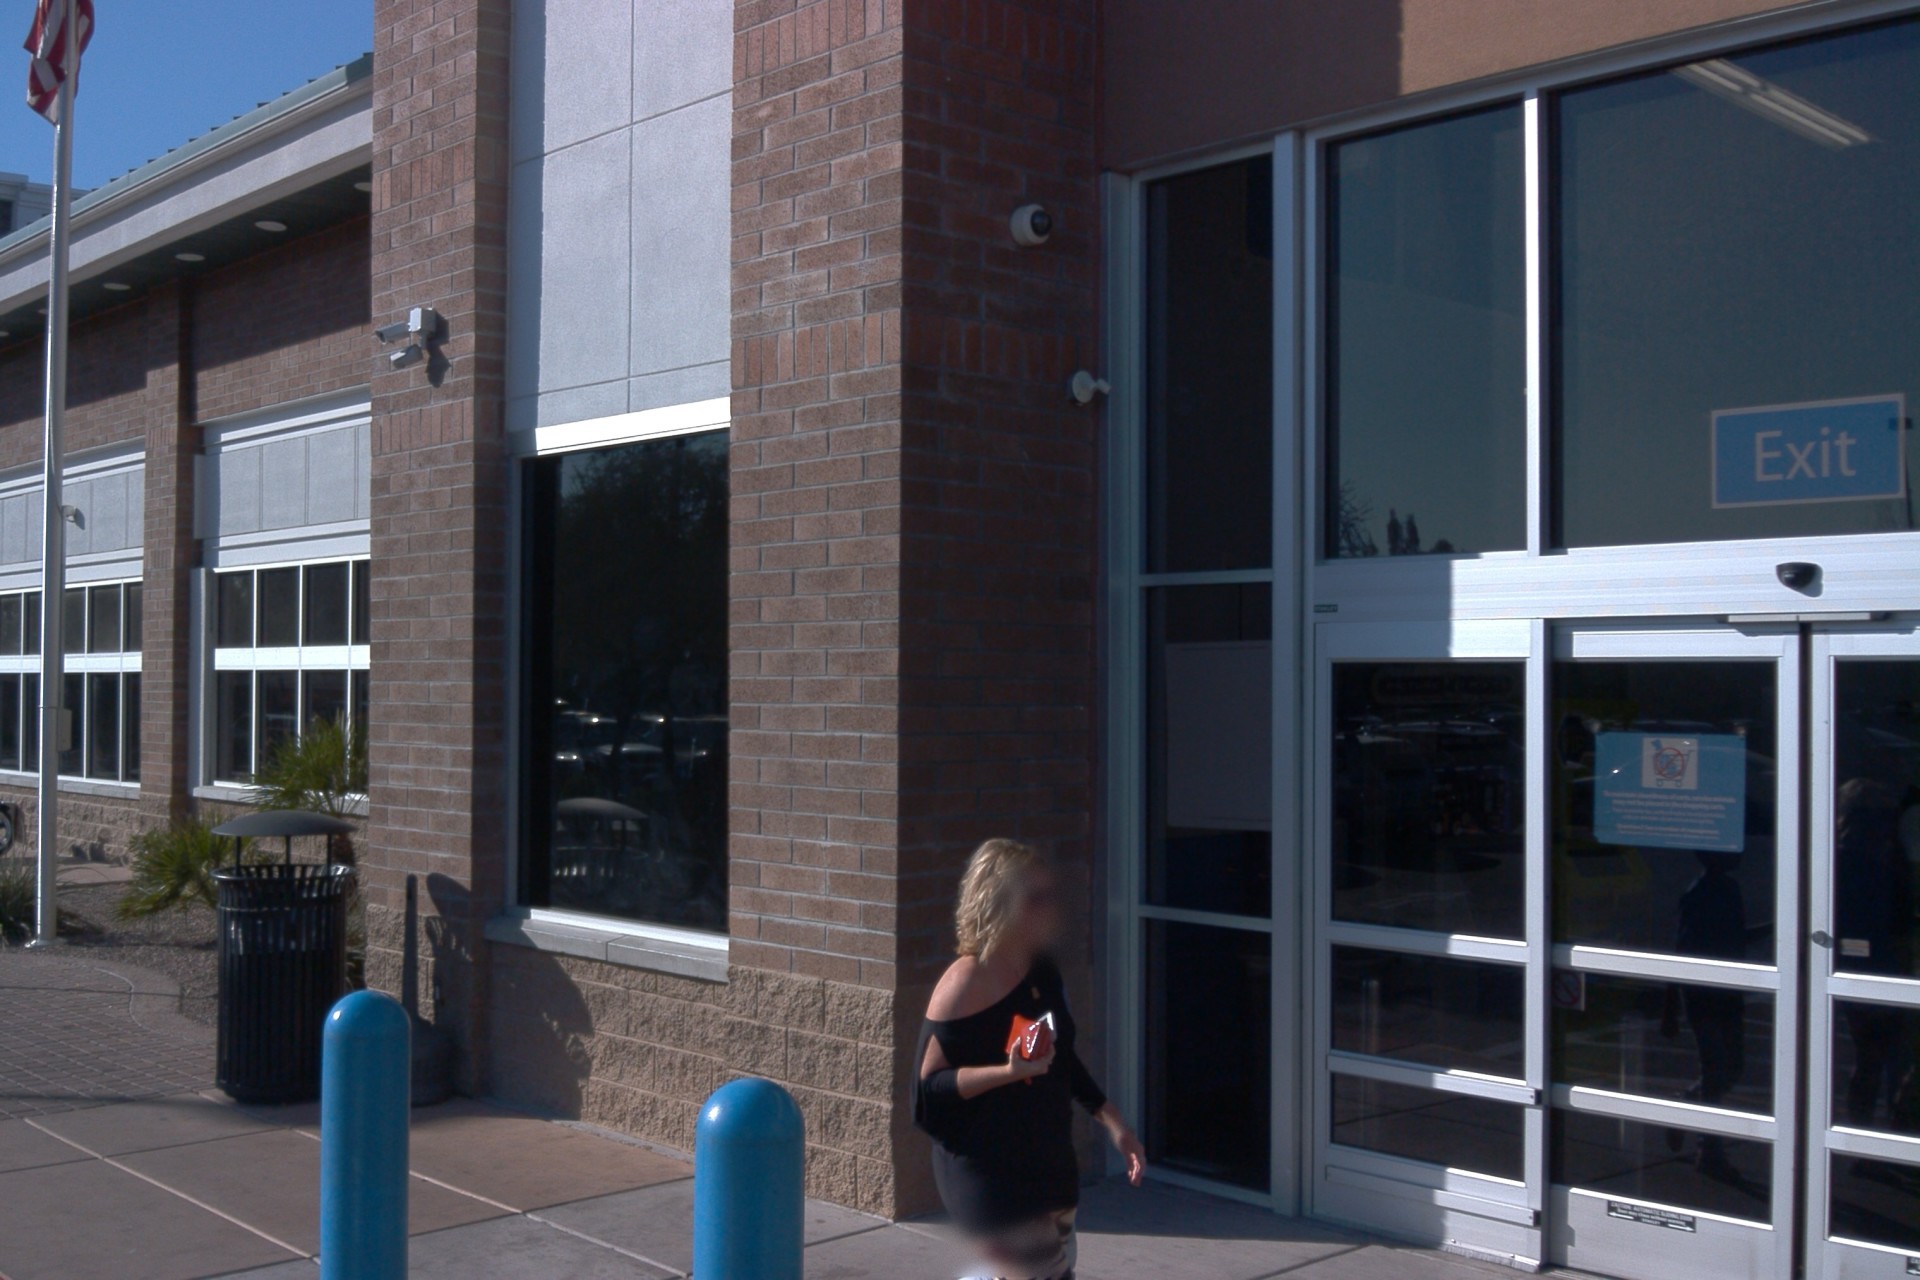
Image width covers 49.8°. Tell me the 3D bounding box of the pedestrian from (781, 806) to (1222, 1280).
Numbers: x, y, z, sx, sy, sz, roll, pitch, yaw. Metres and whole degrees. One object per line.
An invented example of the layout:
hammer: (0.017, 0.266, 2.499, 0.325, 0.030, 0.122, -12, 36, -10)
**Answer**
pedestrian: (0.109, 1.306, 4.942, 0.782, 1.750, 0.735, 0, 0, 33)

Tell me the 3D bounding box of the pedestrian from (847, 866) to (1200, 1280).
pedestrian: (0.188, 1.413, 5.665, 0.709, 1.490, 0.735, 0, 0, 29)
